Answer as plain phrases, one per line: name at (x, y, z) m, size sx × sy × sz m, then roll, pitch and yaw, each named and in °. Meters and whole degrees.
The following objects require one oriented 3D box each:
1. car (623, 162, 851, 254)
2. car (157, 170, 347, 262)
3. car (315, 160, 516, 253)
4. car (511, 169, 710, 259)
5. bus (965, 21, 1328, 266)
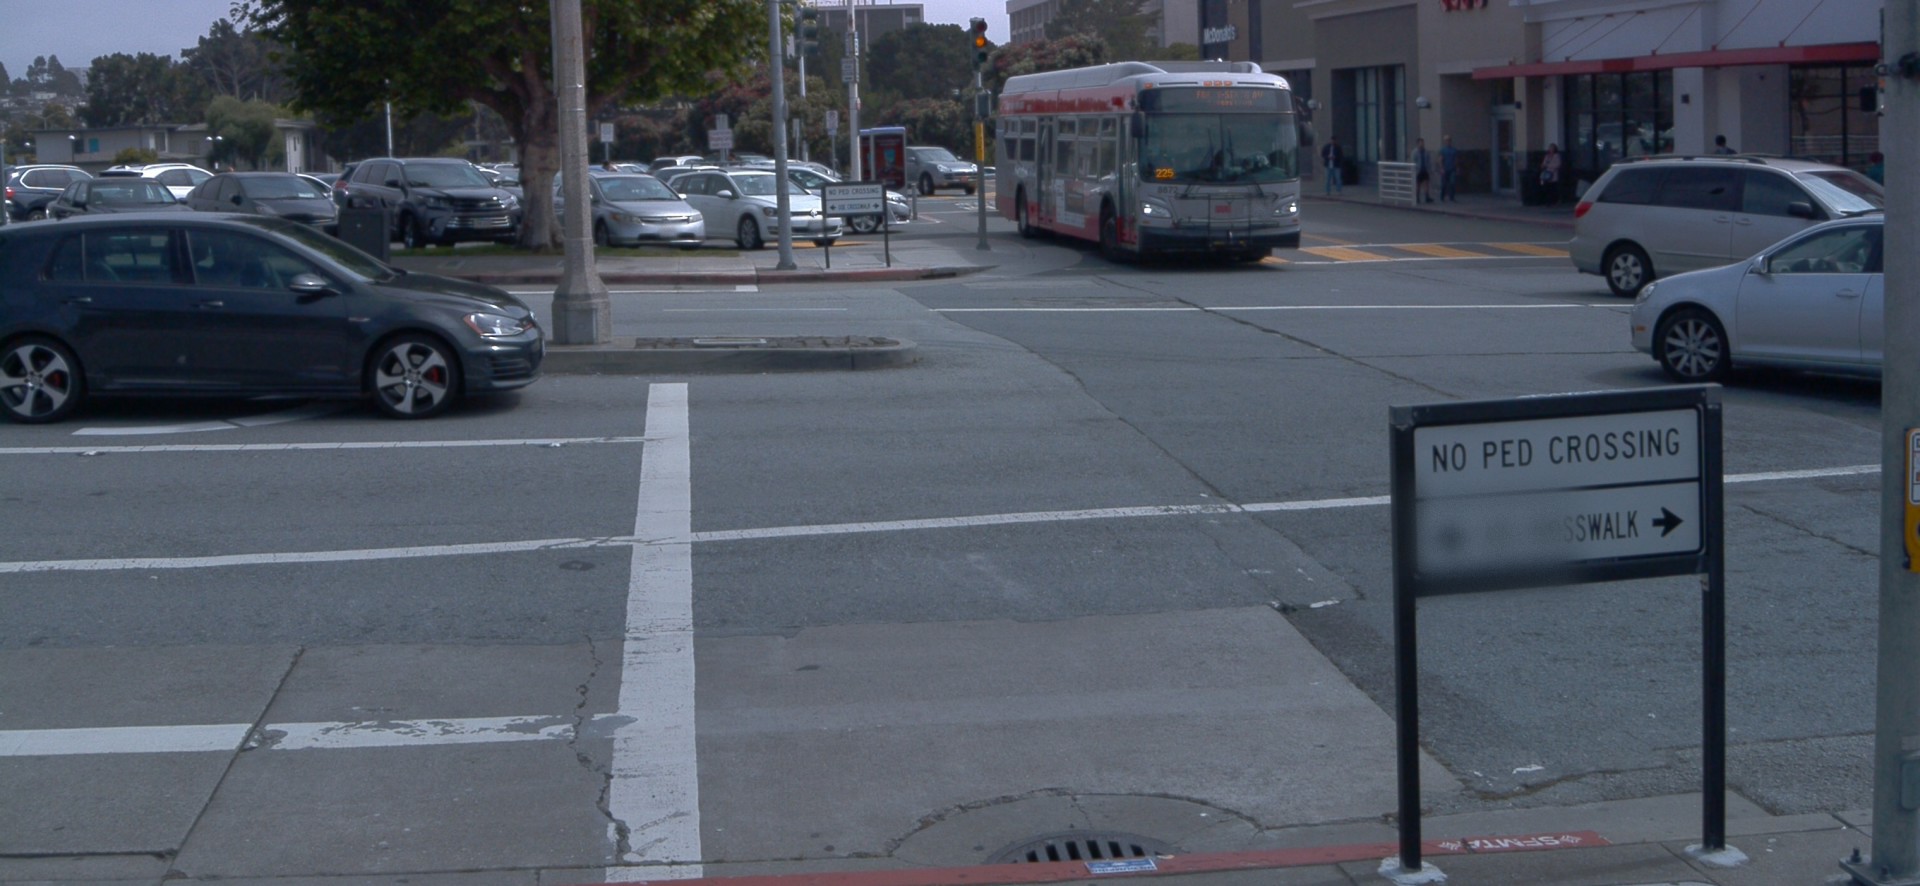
car at (-4.136, -4.291, 37.830) m, size 2.026 × 1.563 × 4.545 m, roll -4°, pitch 7°, yaw -38°
car at (-12.702, -4.060, 36.907) m, size 1.998 × 1.532 × 4.755 m, roll -4°, pitch 7°, yaw -34°
car at (-9.742, -4.196, 36.707) m, size 1.972 × 1.532 × 4.710 m, roll -4°, pitch 7°, yaw -34°
car at (-6.229, -4.045, 36.444) m, size 2.042 × 1.473 × 4.422 m, roll -3°, pitch 7°, yaw -30°
bus at (2.792, -5.121, 36.720) m, size 3.239 × 3.550 × 12.762 m, roll -1°, pitch 6°, yaw -10°
